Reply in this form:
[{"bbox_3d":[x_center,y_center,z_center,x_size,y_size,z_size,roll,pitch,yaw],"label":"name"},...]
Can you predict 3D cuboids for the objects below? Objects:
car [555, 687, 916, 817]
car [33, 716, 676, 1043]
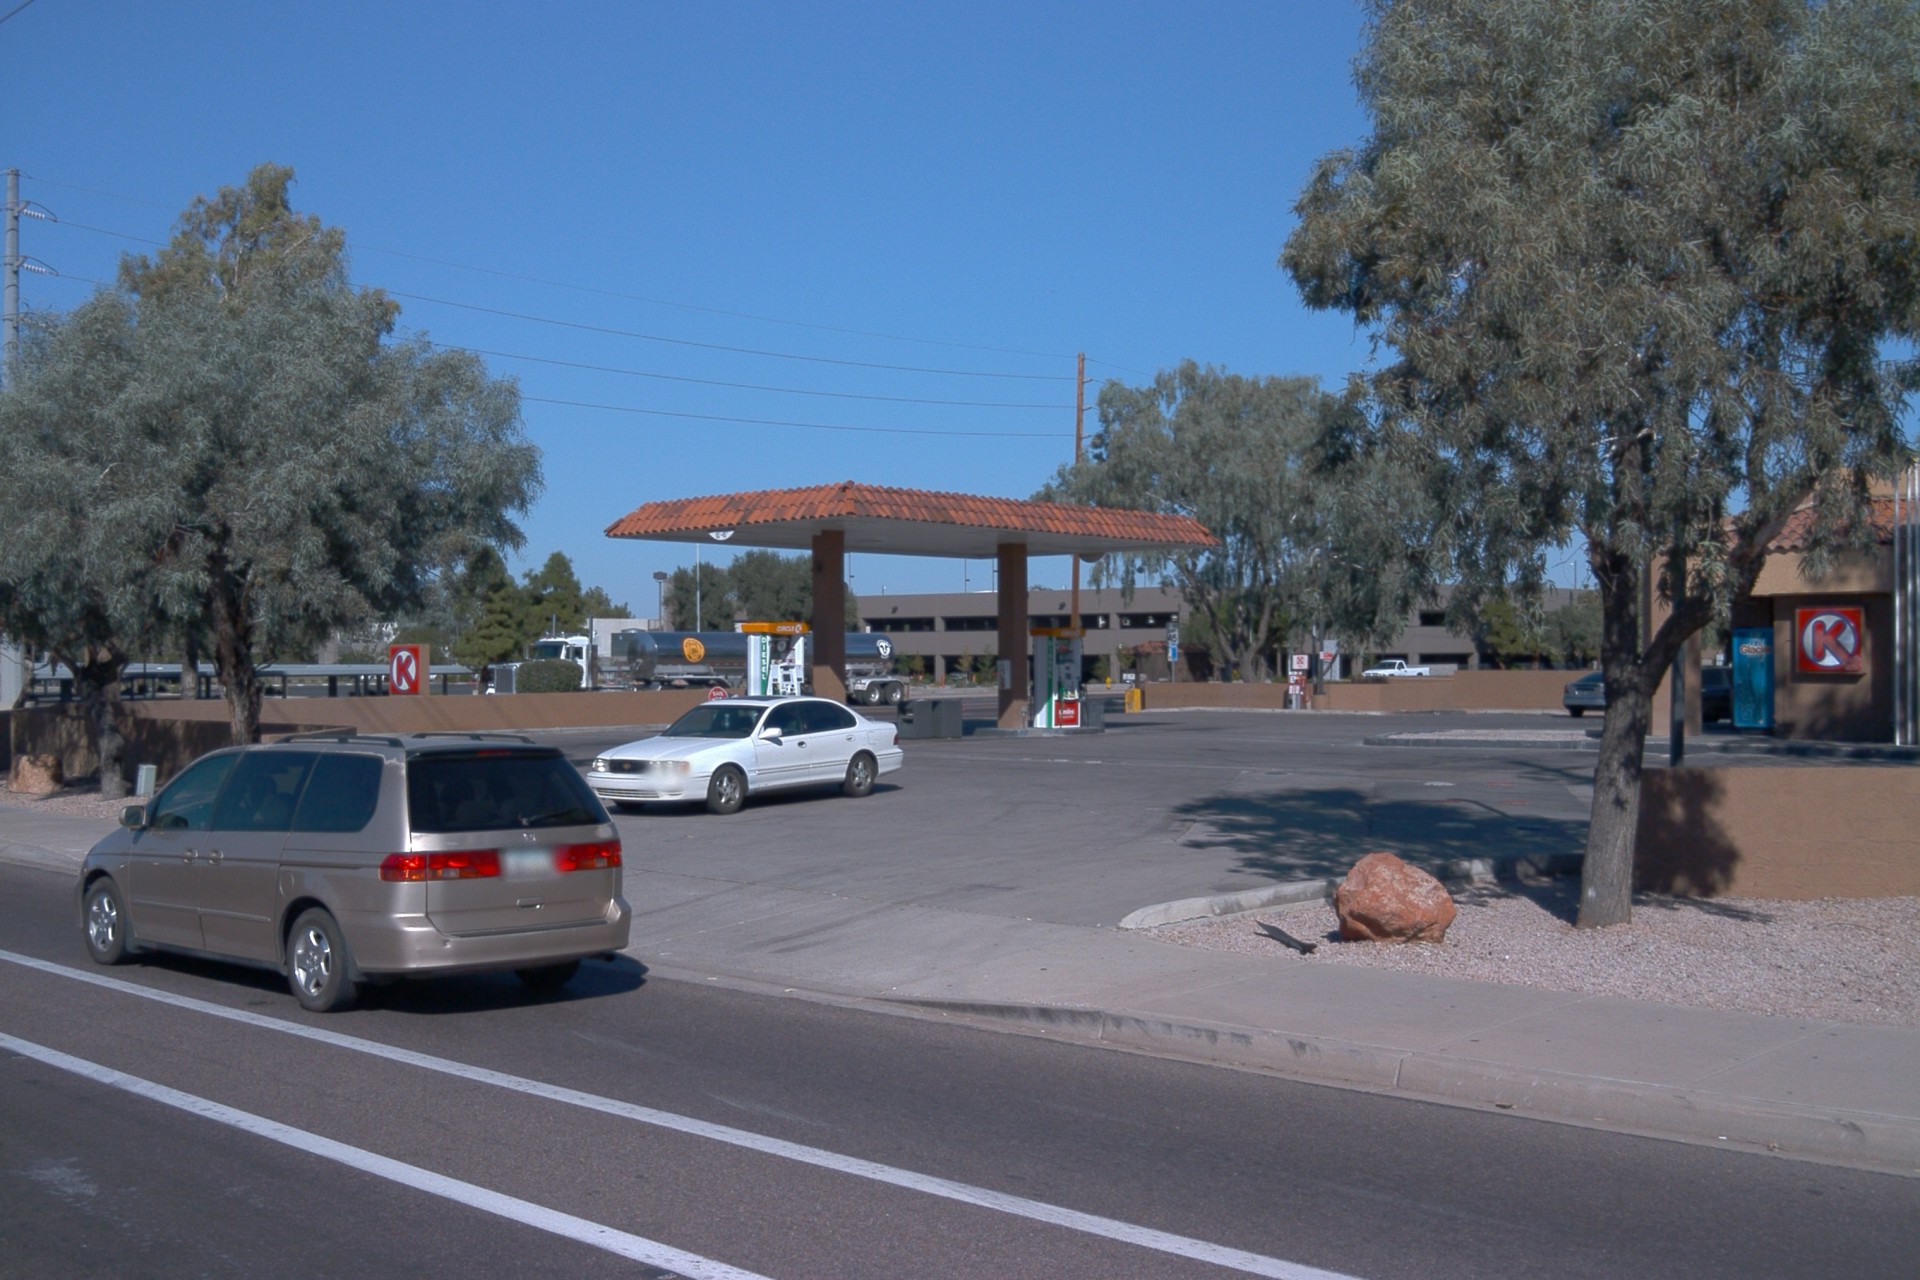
[{"bbox_3d":[-2.835,1.390,27.351,2.068,1.510,4.760,0,-1,36],"label":"car"},{"bbox_3d":[-4.457,1.508,14.833,4.985,1.810,2.204,-1,-1,44],"label":"car"}]
